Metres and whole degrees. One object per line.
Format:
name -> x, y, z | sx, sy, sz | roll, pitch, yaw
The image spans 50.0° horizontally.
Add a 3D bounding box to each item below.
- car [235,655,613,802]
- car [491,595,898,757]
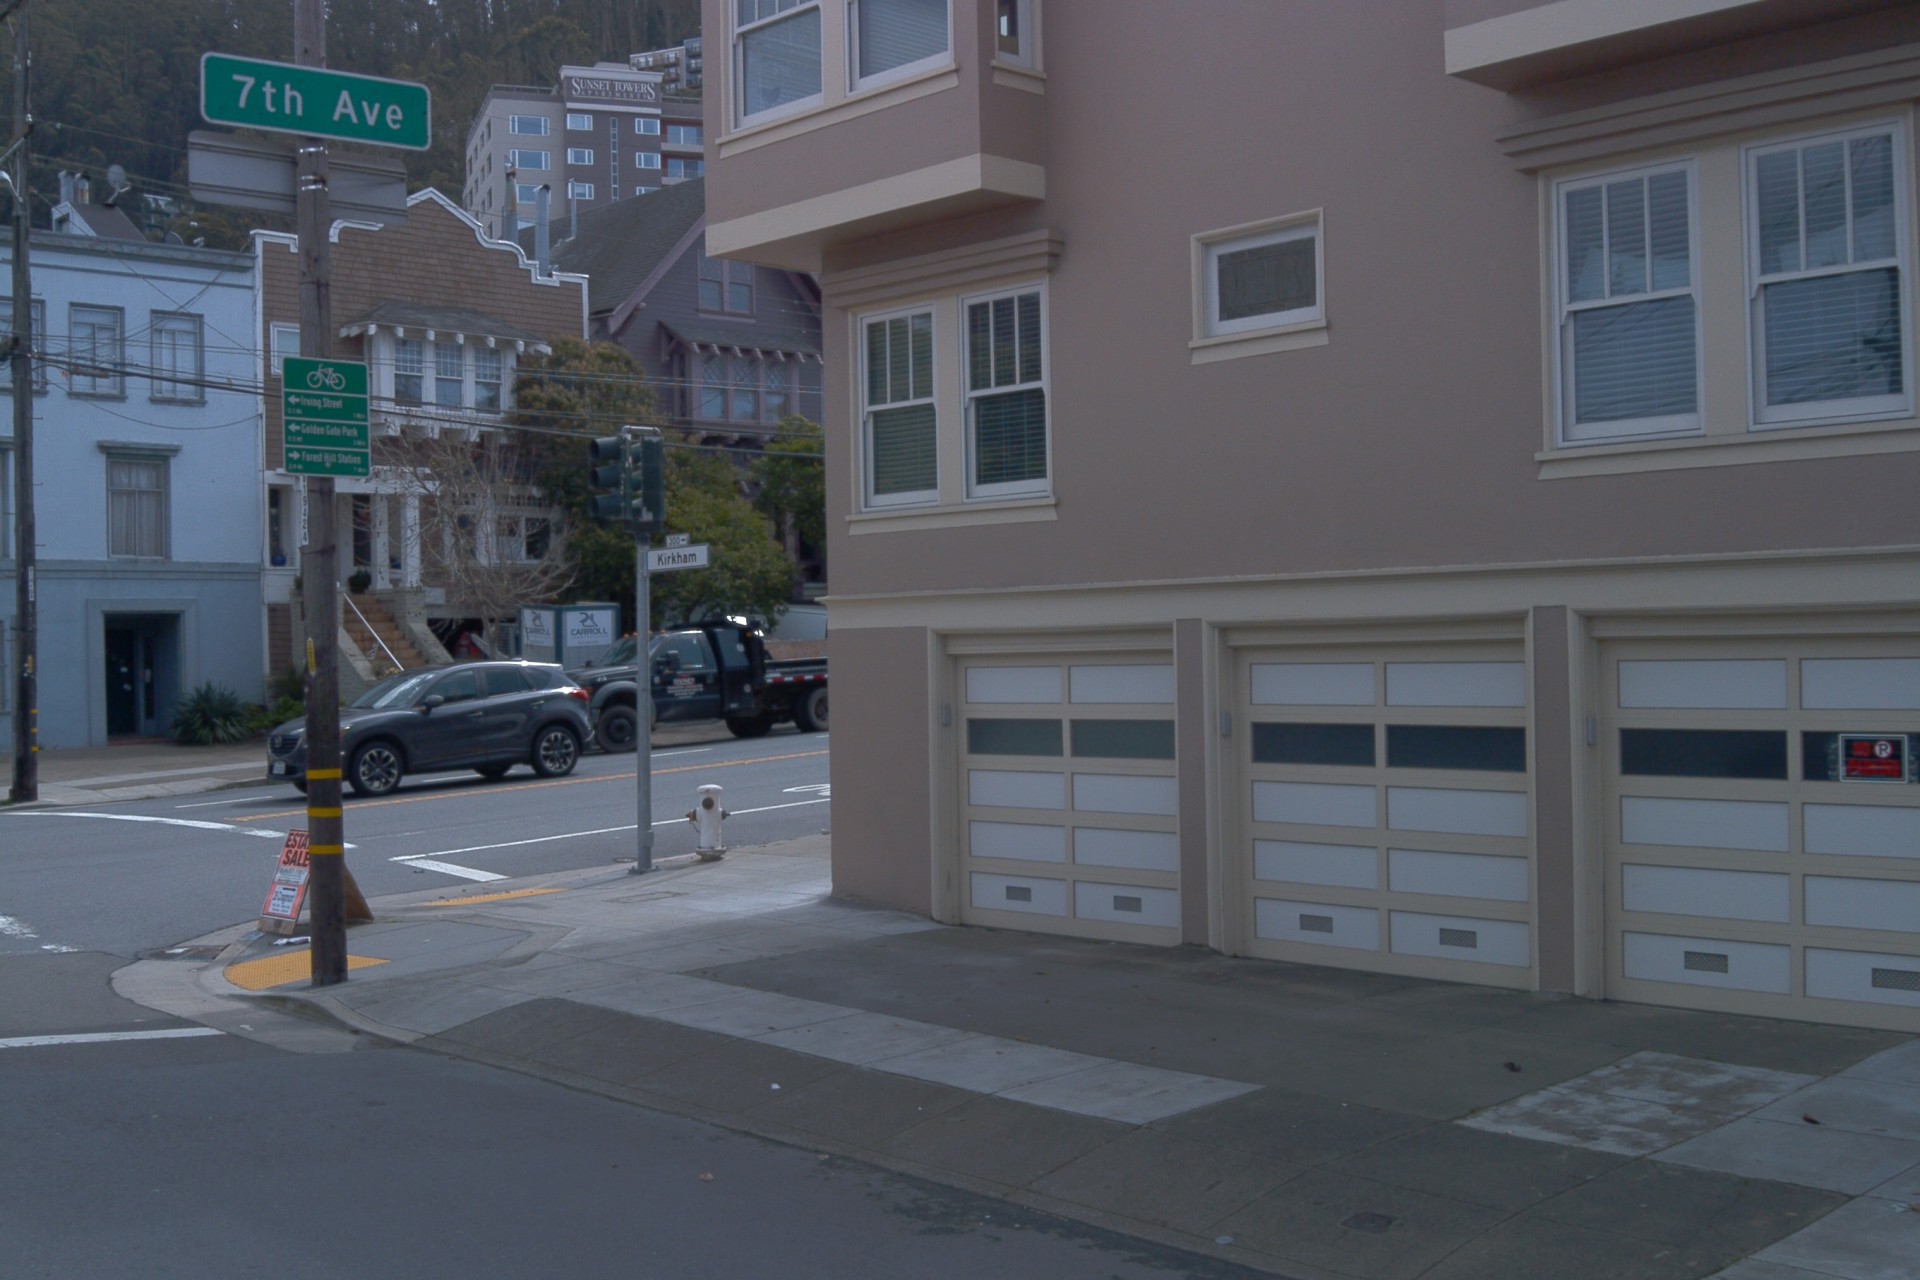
car -> -7.096, 1.104, 27.547 | 4.480, 1.780, 2.009 | 0, 0, -44
car -> -4.461, 0.571, 35.723 | 6.727, 2.550, 2.715 | 0, 0, -45
